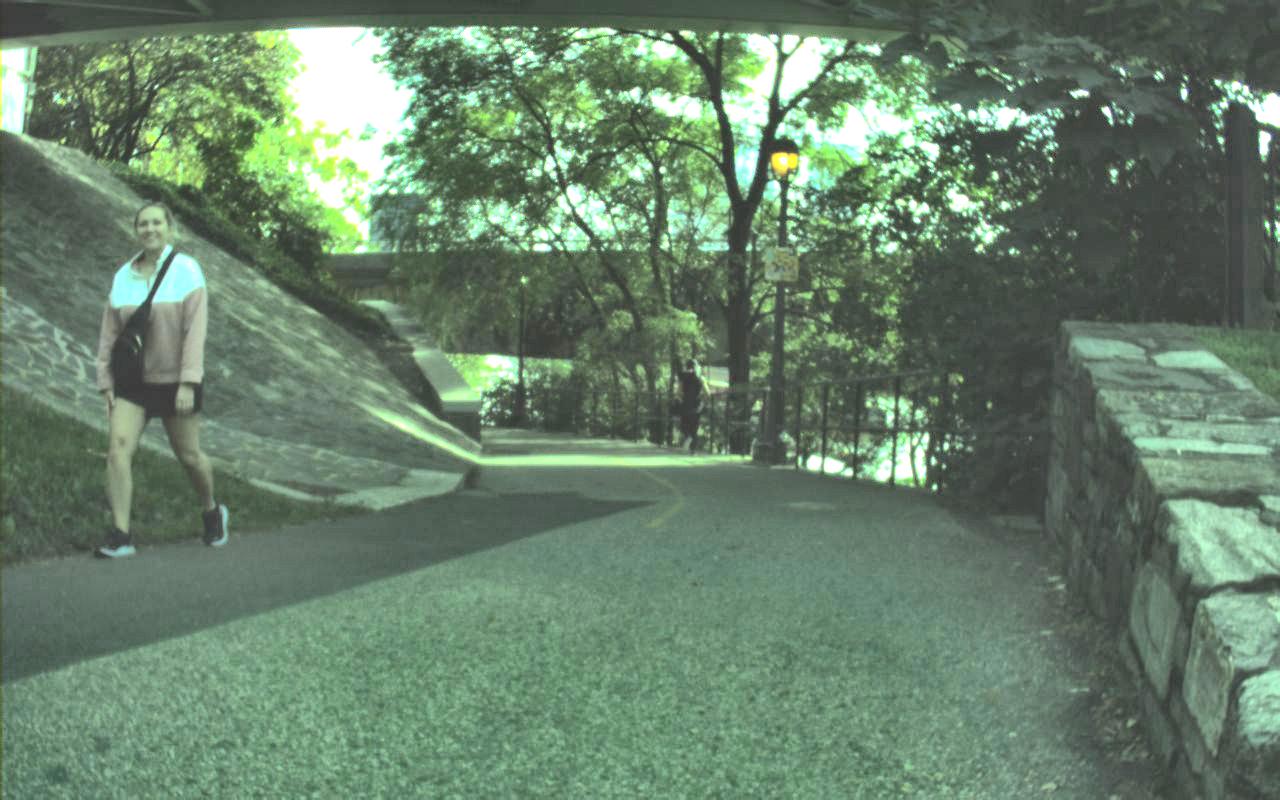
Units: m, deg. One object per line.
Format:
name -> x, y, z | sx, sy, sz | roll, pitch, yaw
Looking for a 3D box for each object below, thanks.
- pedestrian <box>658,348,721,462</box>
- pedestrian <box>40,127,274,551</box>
pedestrian -> 0.788, 0.066, 19.860 | 0.863, 1.734, 0.923 | 0, 0, 10
pedestrian -> -2.103, -0.247, 5.102 | 0.783, 1.679, 0.834 | 0, 0, 4
